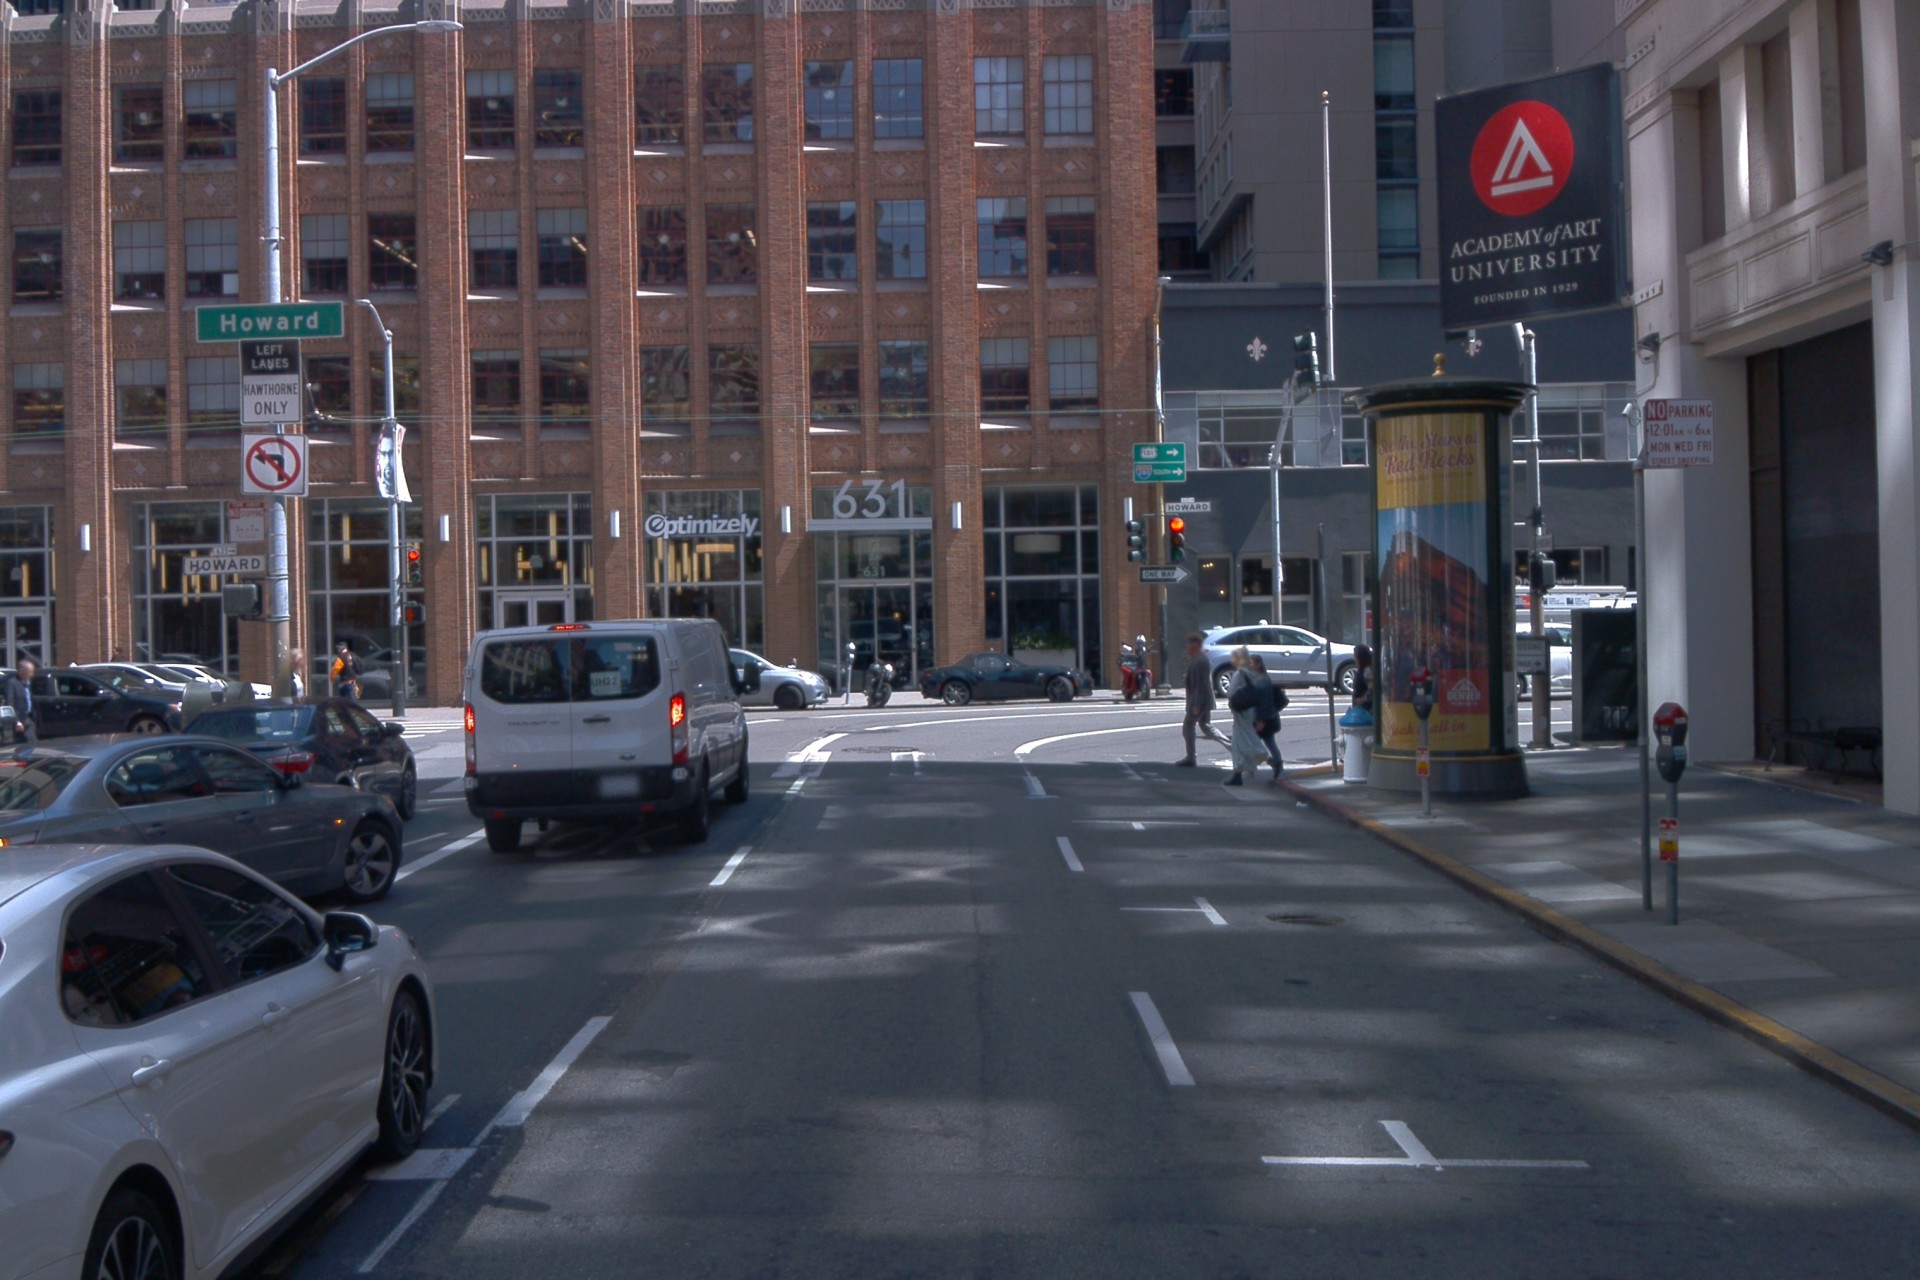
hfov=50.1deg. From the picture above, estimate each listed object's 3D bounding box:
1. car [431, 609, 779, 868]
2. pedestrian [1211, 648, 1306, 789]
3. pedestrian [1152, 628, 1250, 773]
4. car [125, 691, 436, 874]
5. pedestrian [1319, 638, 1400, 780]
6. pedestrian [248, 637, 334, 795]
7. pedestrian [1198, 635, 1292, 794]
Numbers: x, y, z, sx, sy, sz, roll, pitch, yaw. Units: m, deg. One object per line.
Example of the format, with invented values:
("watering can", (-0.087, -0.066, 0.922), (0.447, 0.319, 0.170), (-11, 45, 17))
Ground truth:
("car", (-3.277, 0.800, 20.378), (2.374, 2.200, 5.787), (0, 1, 1))
("pedestrian", (3.691, 0.950, 25.393), (0.894, 1.690, 0.793), (0, 1, 37))
("pedestrian", (3.236, 0.799, 27.660), (1.239, 1.915, 0.856), (0, 1, 3))
("car", (-6.665, 1.339, 20.655), (1.770, 1.500, 4.171), (0, 1, 0))
("pedestrian", (5.057, 0.859, 26.010), (0.967, 1.756, 0.799), (0, 1, 14))
("pedestrian", (-8.528, 0.956, 26.217), (0.834, 1.980, 0.673), (0, 1, 7))
("pedestrian", (3.443, 0.885, 24.855), (0.946, 1.870, 0.617), (0, 1, 36))
